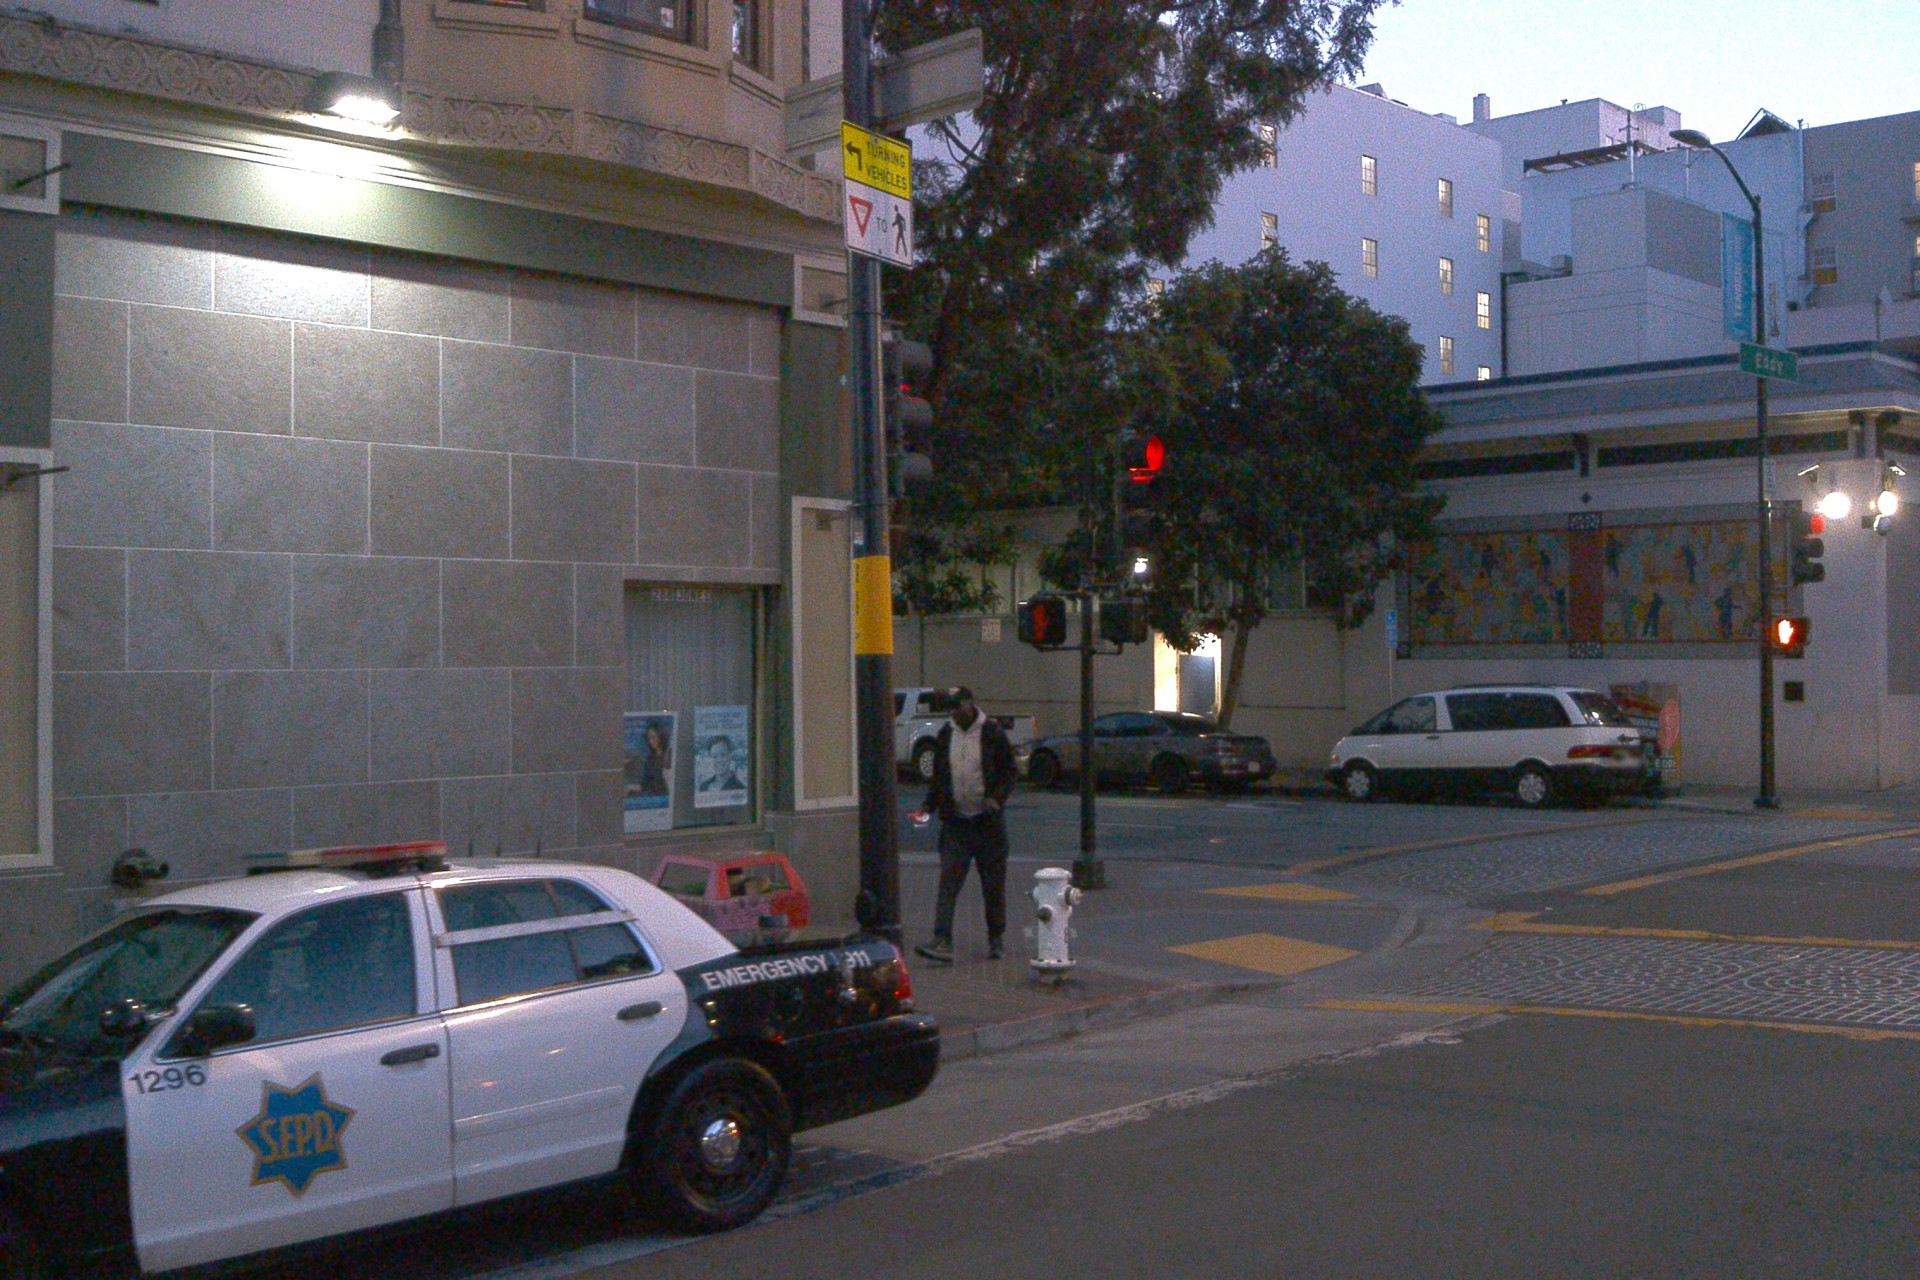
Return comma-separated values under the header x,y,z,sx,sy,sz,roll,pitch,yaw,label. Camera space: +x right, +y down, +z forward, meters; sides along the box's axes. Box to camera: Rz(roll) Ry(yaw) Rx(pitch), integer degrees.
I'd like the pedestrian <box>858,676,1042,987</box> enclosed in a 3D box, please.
x,y,z,sx,sy,sz,roll,pitch,yaw,label
-0.058,1.261,14.072,0.976,1.990,0.871,0,1,24,pedestrian

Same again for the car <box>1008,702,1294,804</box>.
x,y,z,sx,sy,sz,roll,pitch,yaw,label
3.177,1.864,35.146,1.916,1.390,4.727,-1,1,-45,car

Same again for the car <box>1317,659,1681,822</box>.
x,y,z,sx,sy,sz,roll,pitch,yaw,label
7.838,1.390,30.362,4.809,2.080,2.006,1,1,44,car
